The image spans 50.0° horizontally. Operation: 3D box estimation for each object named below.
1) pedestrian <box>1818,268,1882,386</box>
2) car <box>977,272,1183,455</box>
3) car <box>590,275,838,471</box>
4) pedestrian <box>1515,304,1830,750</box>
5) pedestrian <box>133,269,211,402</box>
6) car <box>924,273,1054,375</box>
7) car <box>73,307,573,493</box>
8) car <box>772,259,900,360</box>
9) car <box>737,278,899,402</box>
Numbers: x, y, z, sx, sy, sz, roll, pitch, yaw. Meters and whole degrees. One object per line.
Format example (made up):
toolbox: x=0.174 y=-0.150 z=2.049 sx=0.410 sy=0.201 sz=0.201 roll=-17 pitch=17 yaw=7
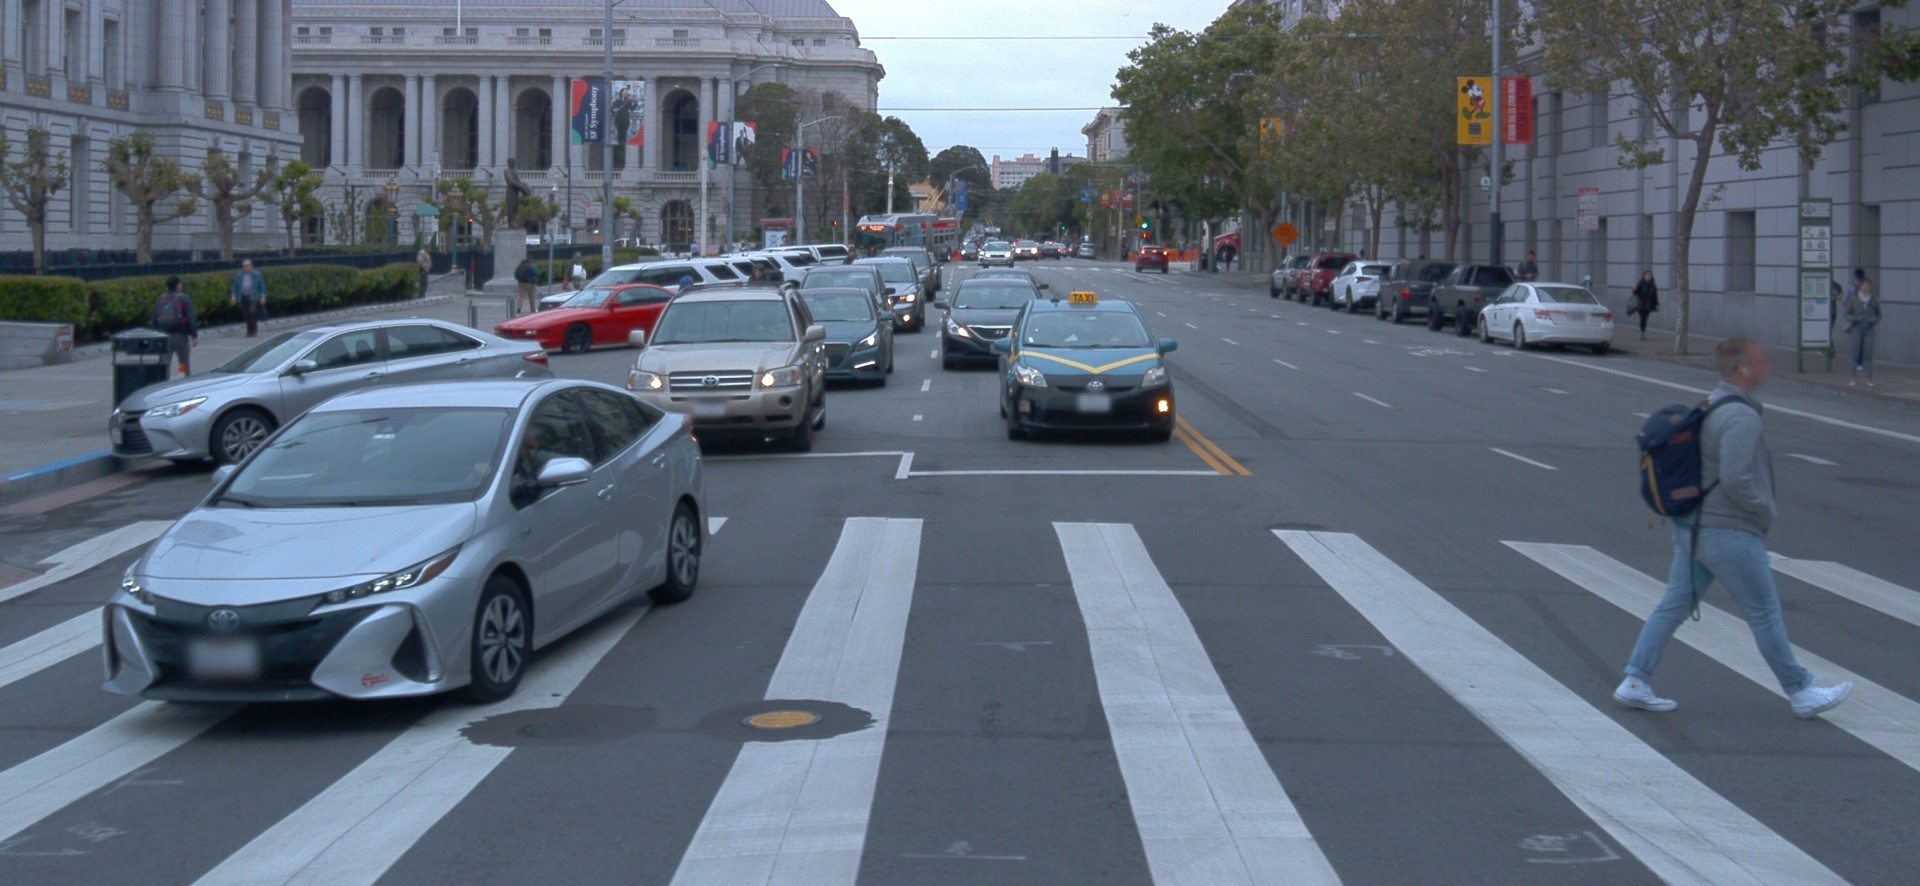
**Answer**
pedestrian: x=13.880 y=-1.819 z=32.117 sx=0.850 sy=1.788 sz=0.790 roll=1 pitch=2 yaw=19
car: x=1.255 y=-1.004 z=23.361 sx=2.026 sy=1.779 sz=4.380 roll=0 pitch=5 yaw=-1
car: x=-2.538 y=-0.875 z=22.456 sx=2.165 sy=1.792 sz=4.824 roll=0 pitch=5 yaw=0
pedestrian: x=3.131 y=0.326 z=9.149 sx=1.153 sy=1.847 sz=0.813 roll=0 pitch=2 yaw=5
pedestrian: x=-11.200 y=-1.547 z=29.273 sx=0.801 sy=1.847 sz=0.879 roll=0 pitch=2 yaw=-3
car: x=0.460 y=-2.065 z=34.745 sx=2.049 sy=1.505 sz=4.592 roll=0 pitch=6 yaw=0
car: x=-7.006 y=-0.586 z=22.963 sx=4.910 sy=1.660 sz=2.115 roll=-5 pitch=6 yaw=-41
car: x=-2.314 y=-2.621 z=39.513 sx=2.093 sy=1.746 sz=4.686 roll=0 pitch=5 yaw=1
car: x=-2.071 y=-1.651 z=31.394 sx=2.127 sy=1.619 sz=4.847 roll=0 pitch=6 yaw=0
